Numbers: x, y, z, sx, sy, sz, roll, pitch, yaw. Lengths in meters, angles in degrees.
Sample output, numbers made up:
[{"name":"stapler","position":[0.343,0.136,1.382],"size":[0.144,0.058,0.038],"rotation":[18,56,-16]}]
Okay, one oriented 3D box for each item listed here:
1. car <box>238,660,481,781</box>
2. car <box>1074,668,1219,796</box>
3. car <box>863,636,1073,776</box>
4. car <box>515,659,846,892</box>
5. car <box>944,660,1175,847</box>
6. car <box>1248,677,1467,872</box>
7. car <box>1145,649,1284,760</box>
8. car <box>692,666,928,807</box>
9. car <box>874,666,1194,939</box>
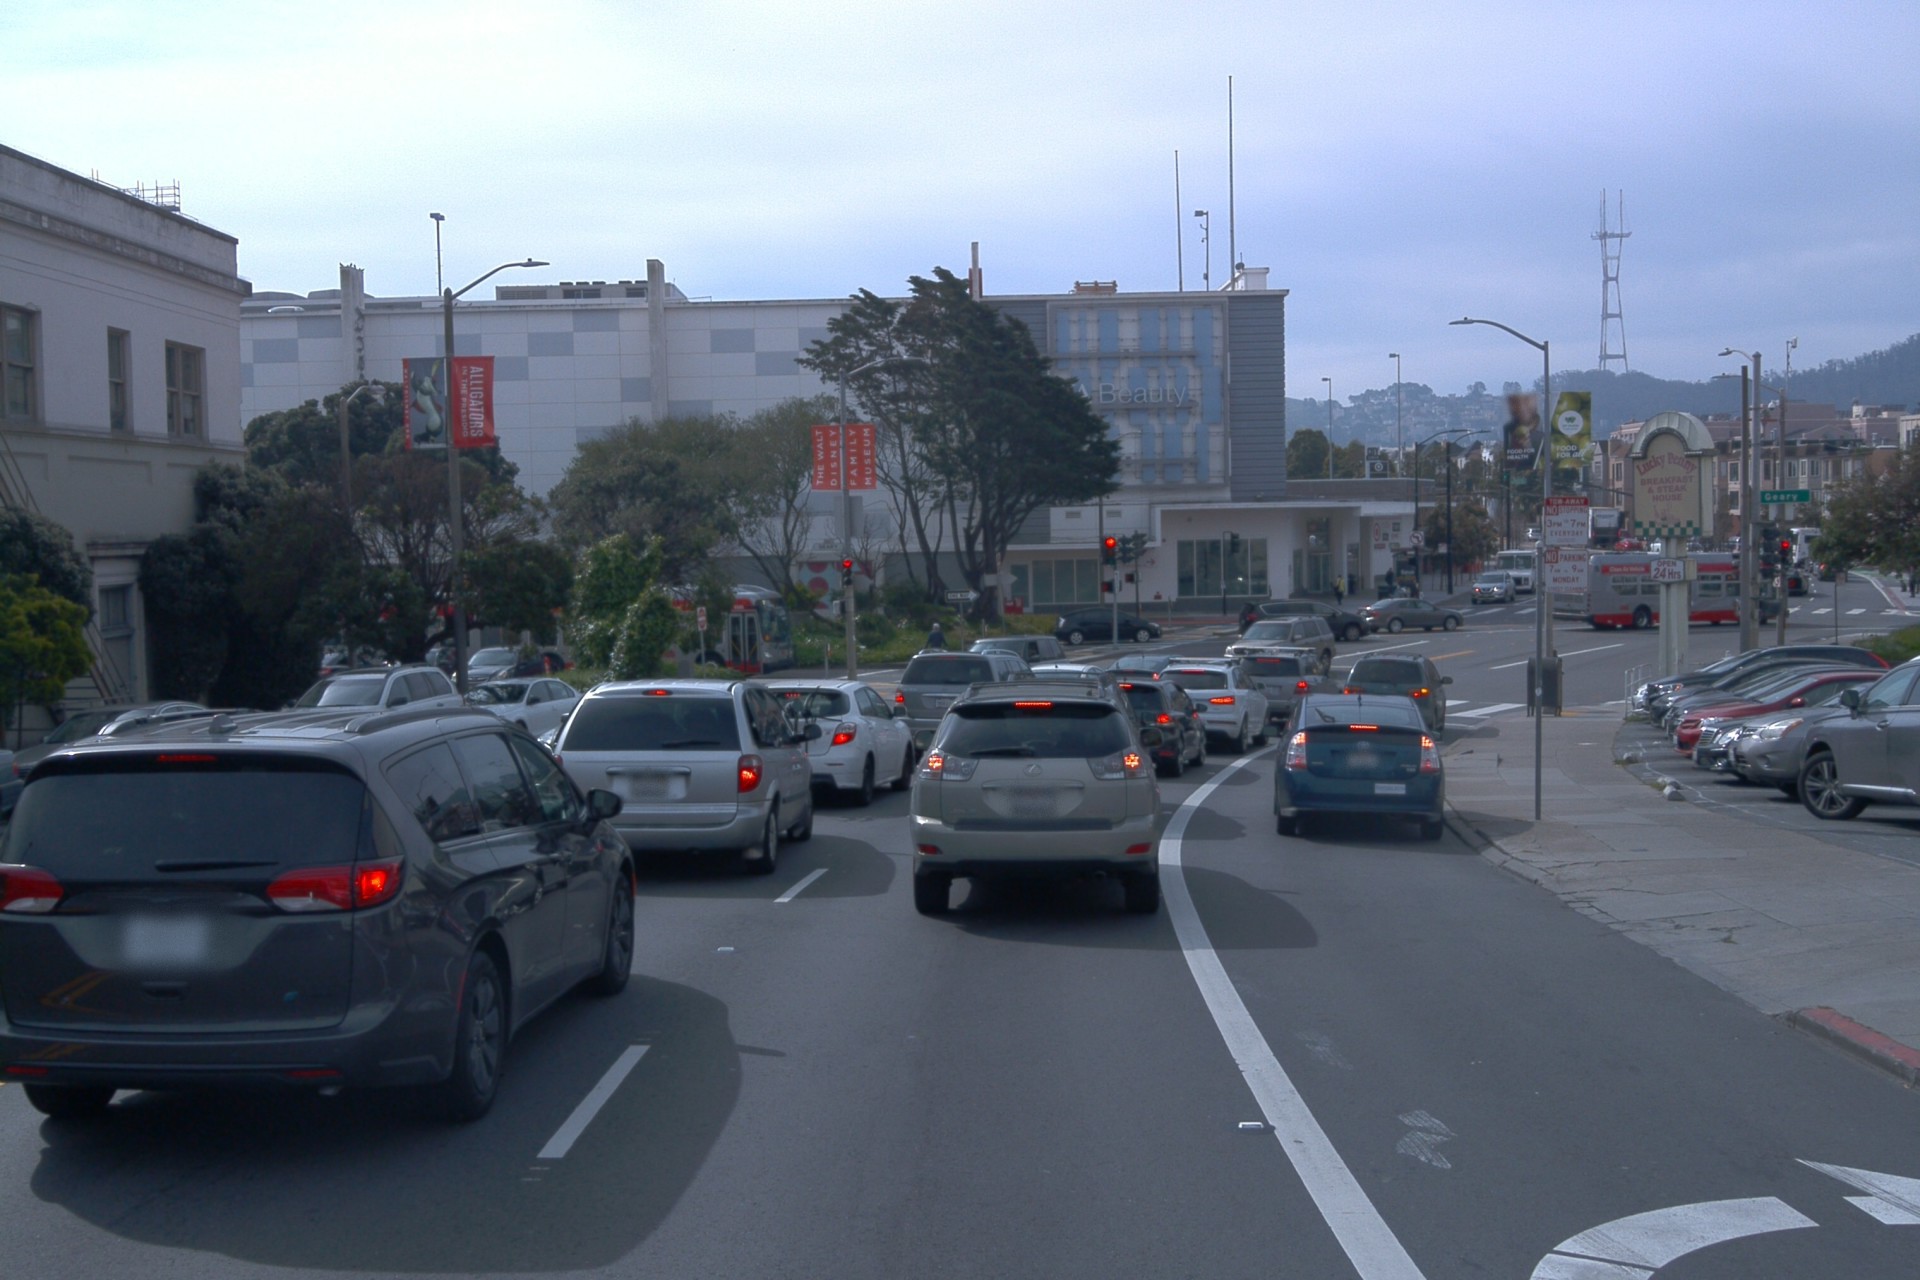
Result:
[{"name":"car","position":[-9.982,1.279,34.444],"size":[2.060,1.800,4.806],"rotation":[1,0,9]},{"name":"car","position":[2.964,1.370,31.847],"size":[1.526,1.780,3.939],"rotation":[1,0,16]},{"name":"car","position":[0.229,1.000,33.691],"size":[2.236,2.100,4.827],"rotation":[1,0,16]},{"name":"car","position":[-2.445,1.137,19.219],"size":[2.131,1.830,4.635],"rotation":[1,0,5]},{"name":"car","position":[1.262,1.213,23.700],"size":[2.119,1.870,4.391],"rotation":[1,0,10]},{"name":"car","position":[4.348,1.368,22.553],"size":[2.113,1.790,4.646],"rotation":[1,0,10]},{"name":"car","position":[4.715,1.118,37.401],"size":[1.795,1.880,4.044],"rotation":[1,0,18]},{"name":"car","position":[-1.792,1.142,25.898],"size":[1.982,1.530,4.306],"rotation":[1,0,10]},{"name":"car","position":[0.611,1.152,16.372],"size":[2.197,1.780,4.467],"rotation":[1,0,3]}]
